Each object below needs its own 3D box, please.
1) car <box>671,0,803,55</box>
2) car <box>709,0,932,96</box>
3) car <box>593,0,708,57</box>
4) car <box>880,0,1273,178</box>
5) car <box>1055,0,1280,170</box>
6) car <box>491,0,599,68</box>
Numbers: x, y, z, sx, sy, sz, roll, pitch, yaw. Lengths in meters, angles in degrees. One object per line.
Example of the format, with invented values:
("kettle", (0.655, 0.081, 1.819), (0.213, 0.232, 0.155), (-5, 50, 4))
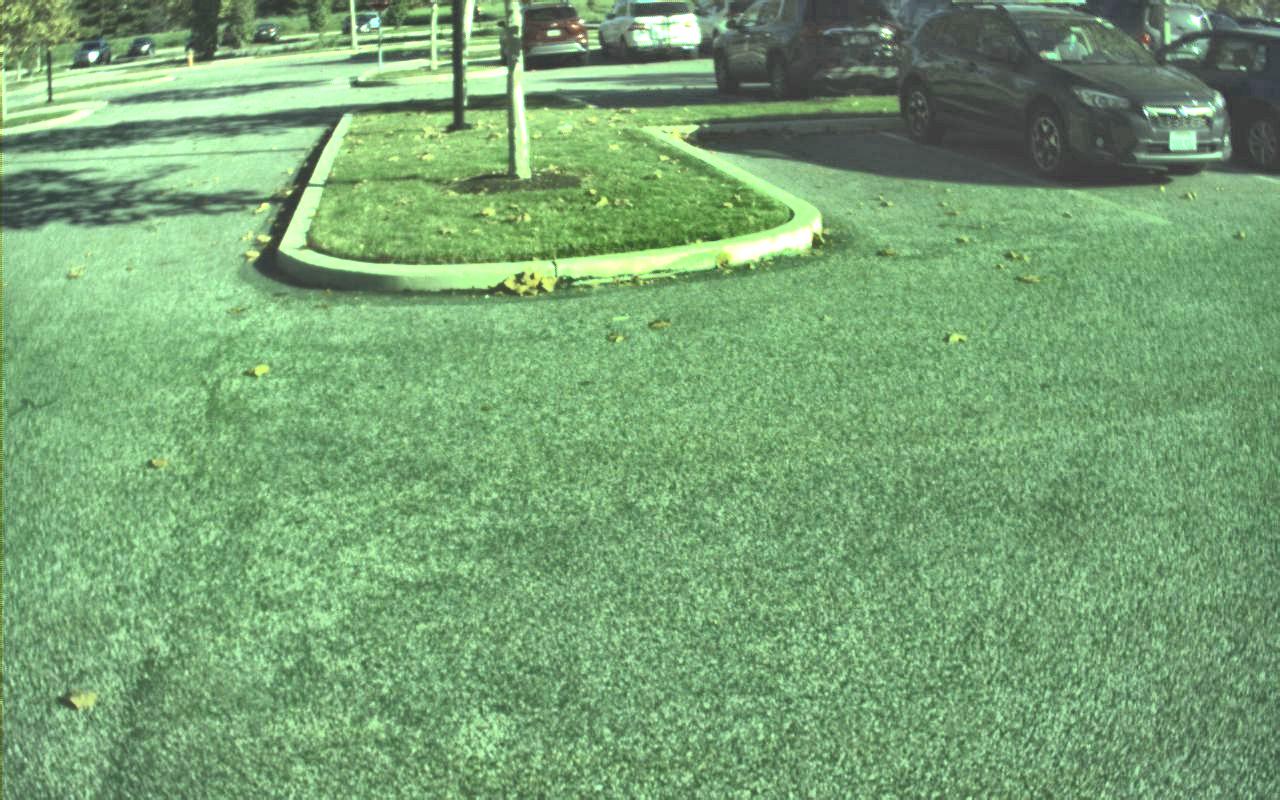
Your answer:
("car", (2.583, -10.336, 33.714), (1.976, 1.650, 4.469), (-7, 18, -19))
("car", (2.731, -5.821, 19.498), (2.017, 1.693, 4.792), (-5, 17, -12))
("car", (0.195, -10.074, 32.896), (2.010, 1.701, 4.669), (-5, 17, -13))
("car", (4.205, -3.335, 11.791), (1.955, 1.669, 4.582), (-5, 17, -13))
("car", (6.650, -3.699, 12.805), (1.942, 1.599, 4.462), (-5, 17, -13))
("car", (-2.608, -9.690, 32.290), (2.029, 1.762, 4.638), (-5, 17, -14))
